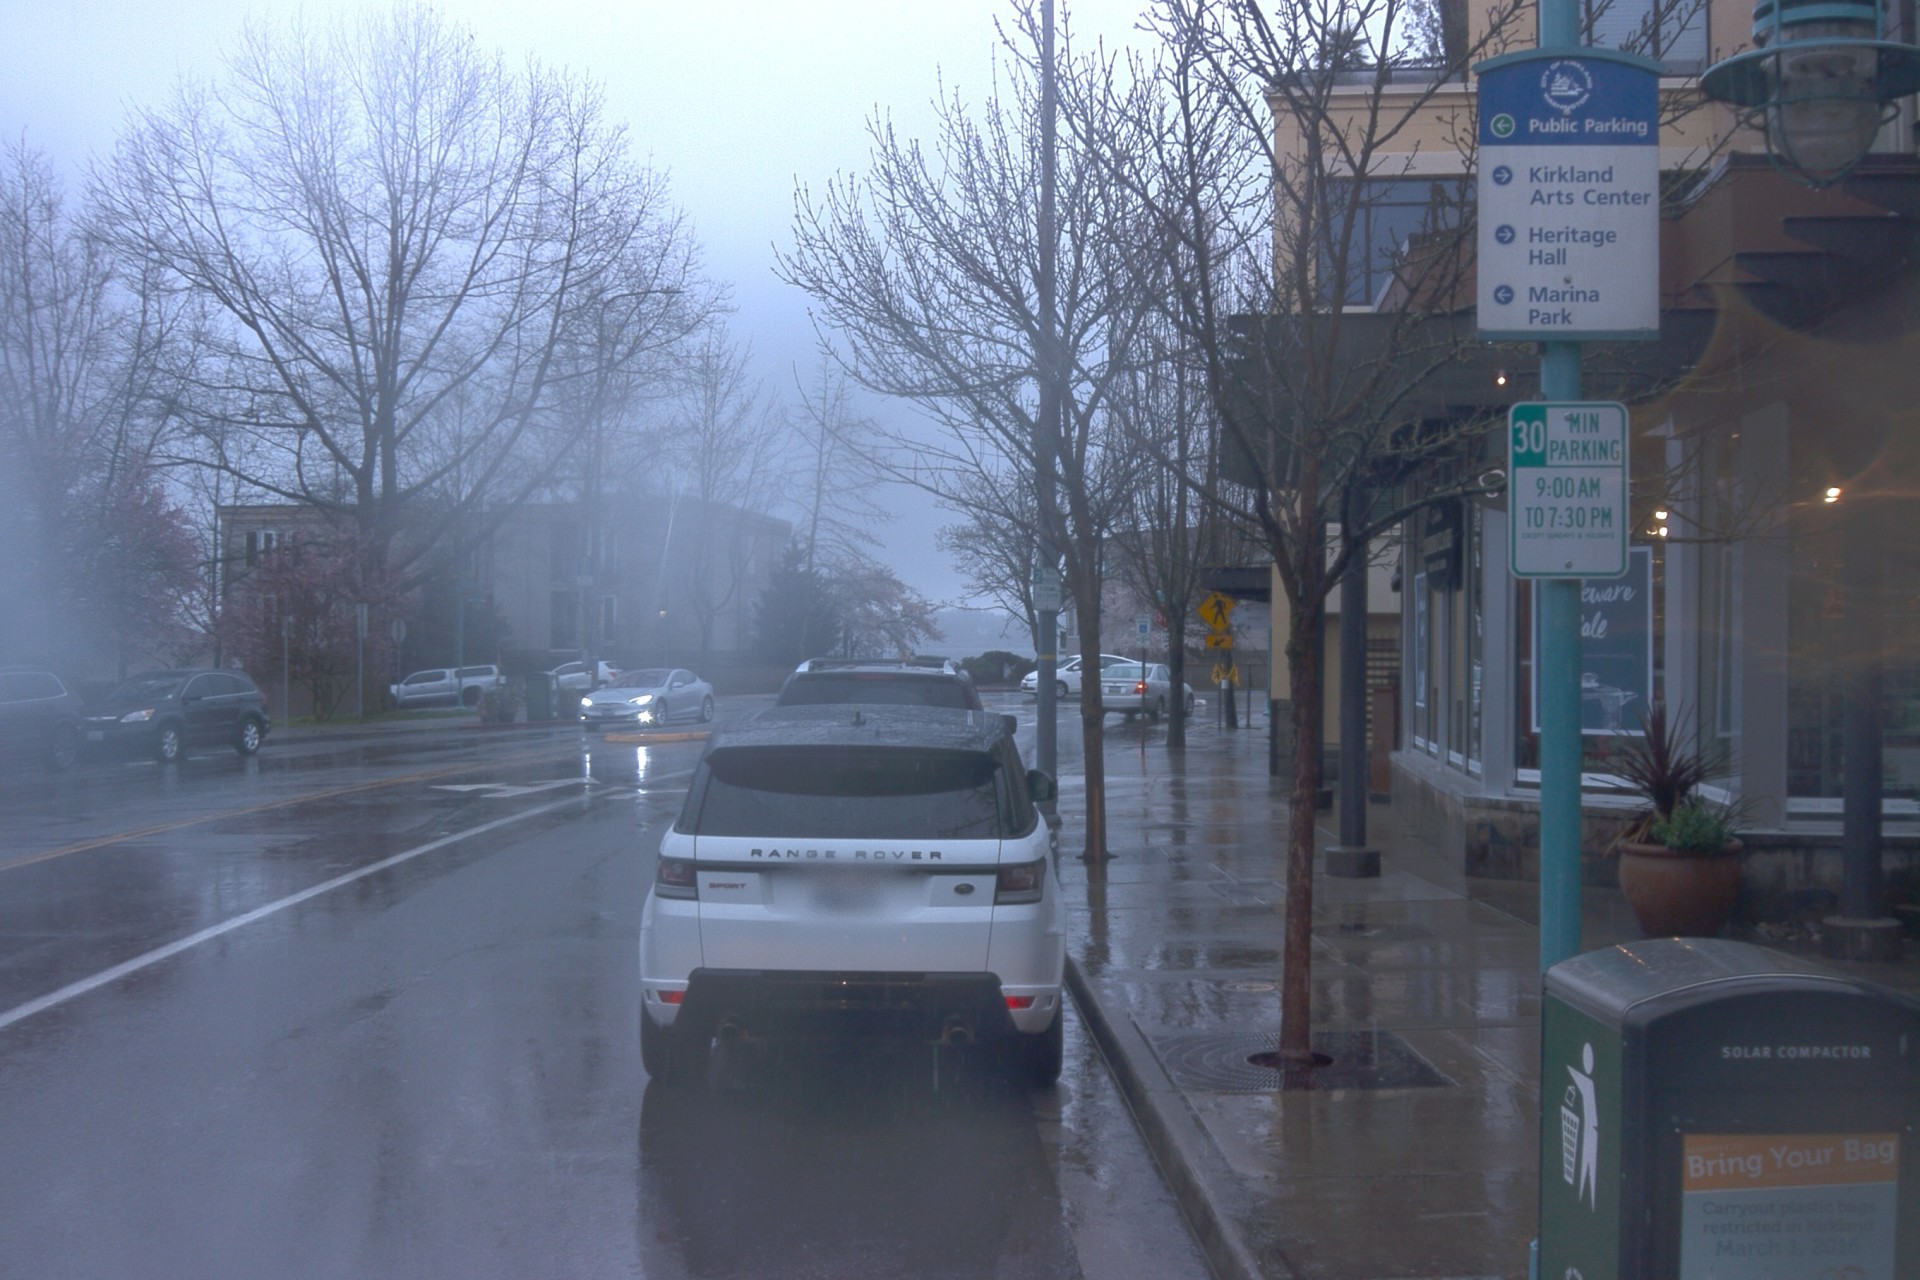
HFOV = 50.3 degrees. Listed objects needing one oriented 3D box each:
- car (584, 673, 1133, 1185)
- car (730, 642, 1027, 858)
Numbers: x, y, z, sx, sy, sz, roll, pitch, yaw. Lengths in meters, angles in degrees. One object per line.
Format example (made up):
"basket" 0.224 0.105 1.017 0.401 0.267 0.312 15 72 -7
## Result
"car" -0.520 1.259 11.130 2.265 2.000 5.125 1 0 -2
"car" -0.712 0.831 17.959 2.210 1.560 5.097 1 0 -2
